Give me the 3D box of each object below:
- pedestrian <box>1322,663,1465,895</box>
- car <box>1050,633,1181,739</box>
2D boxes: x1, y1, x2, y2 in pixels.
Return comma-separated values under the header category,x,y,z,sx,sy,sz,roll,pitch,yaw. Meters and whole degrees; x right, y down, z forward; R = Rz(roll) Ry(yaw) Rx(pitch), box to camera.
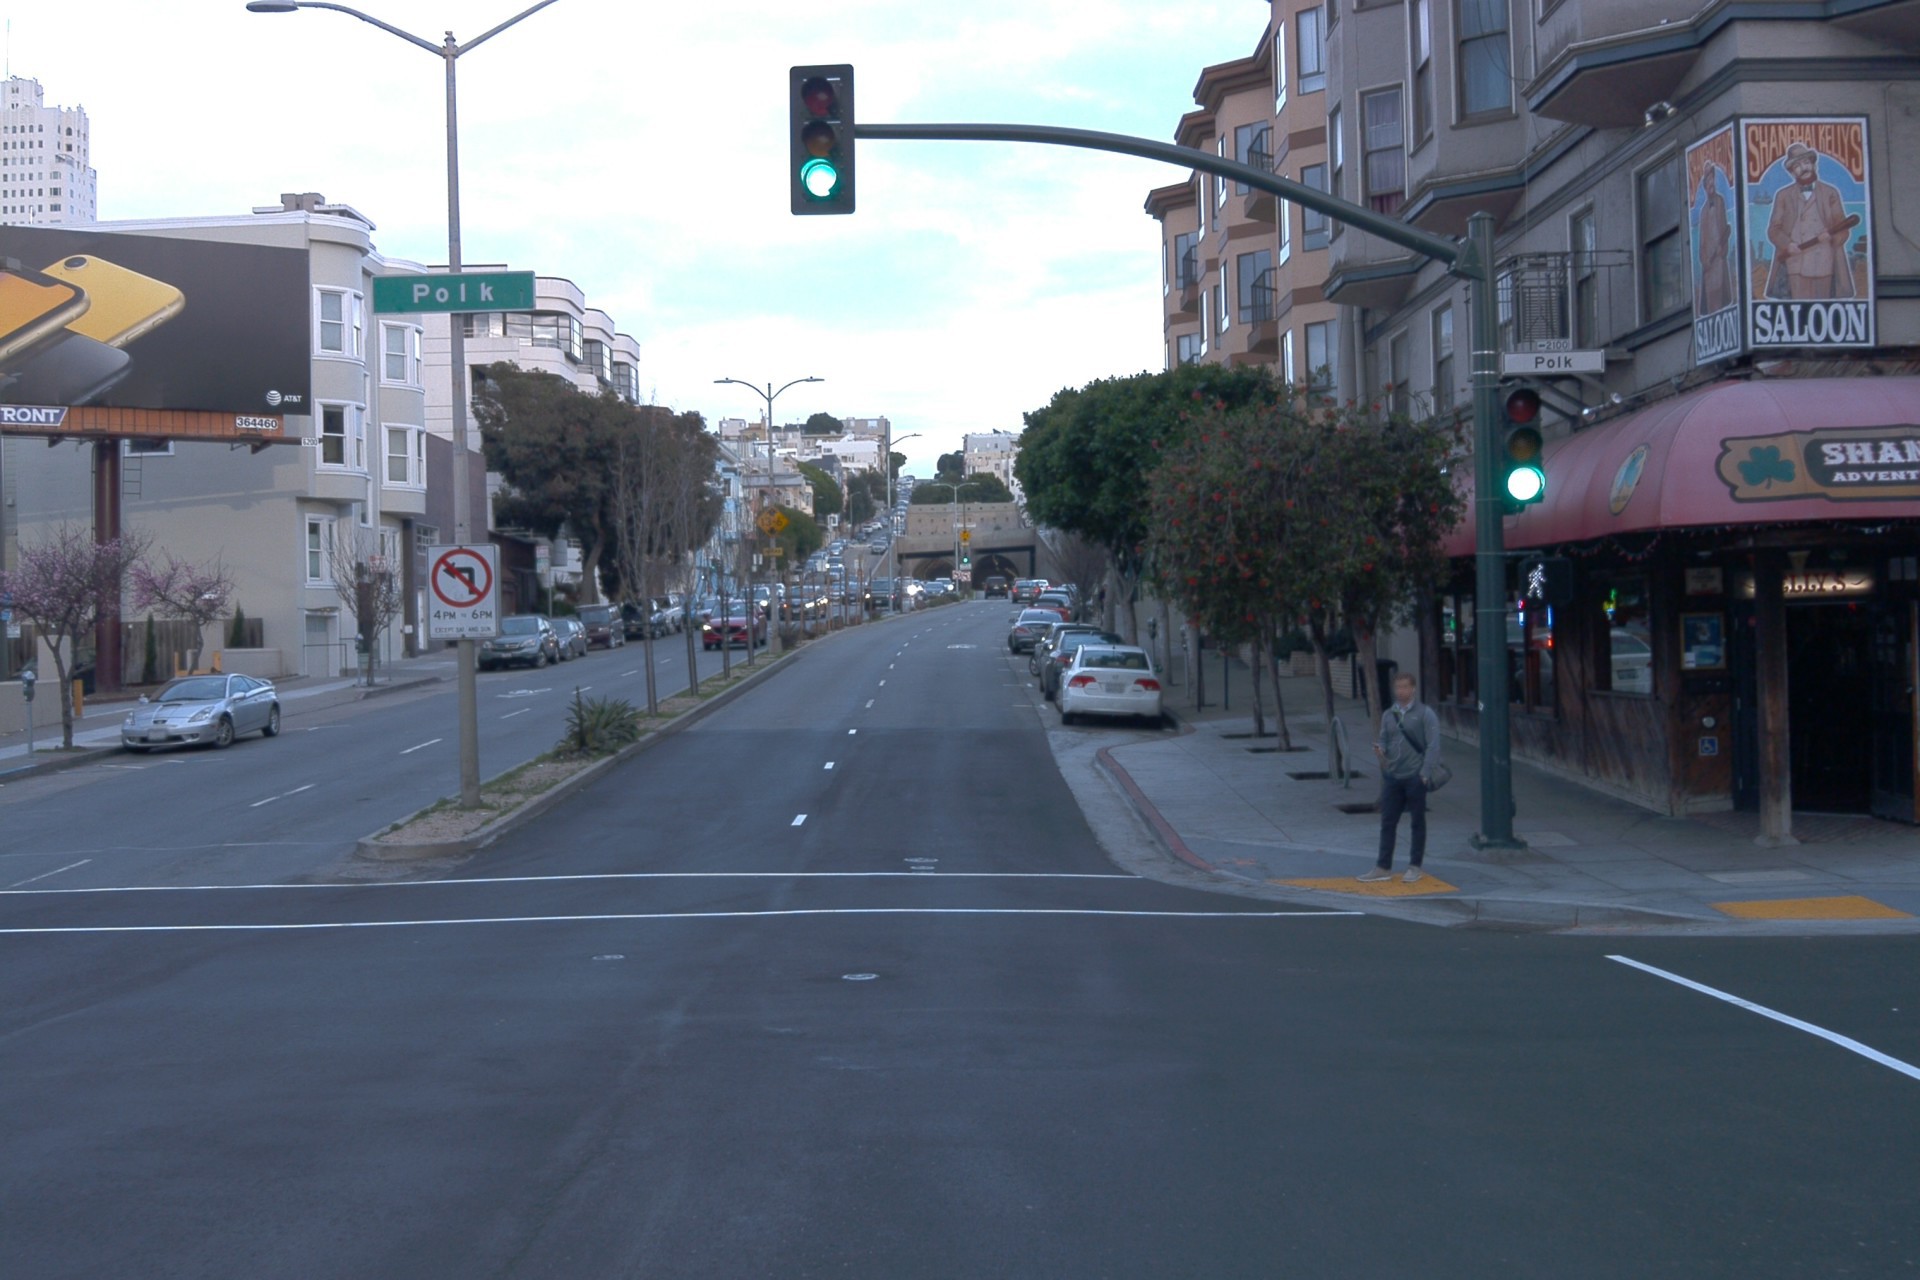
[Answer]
category,x,y,z,sx,sy,sz,roll,pitch,yaw
pedestrian,3.730,1.156,17.693,0.925,1.890,1.048,1,1,28
car,2.763,0.781,37.529,2.061,1.750,4.614,1,1,1
